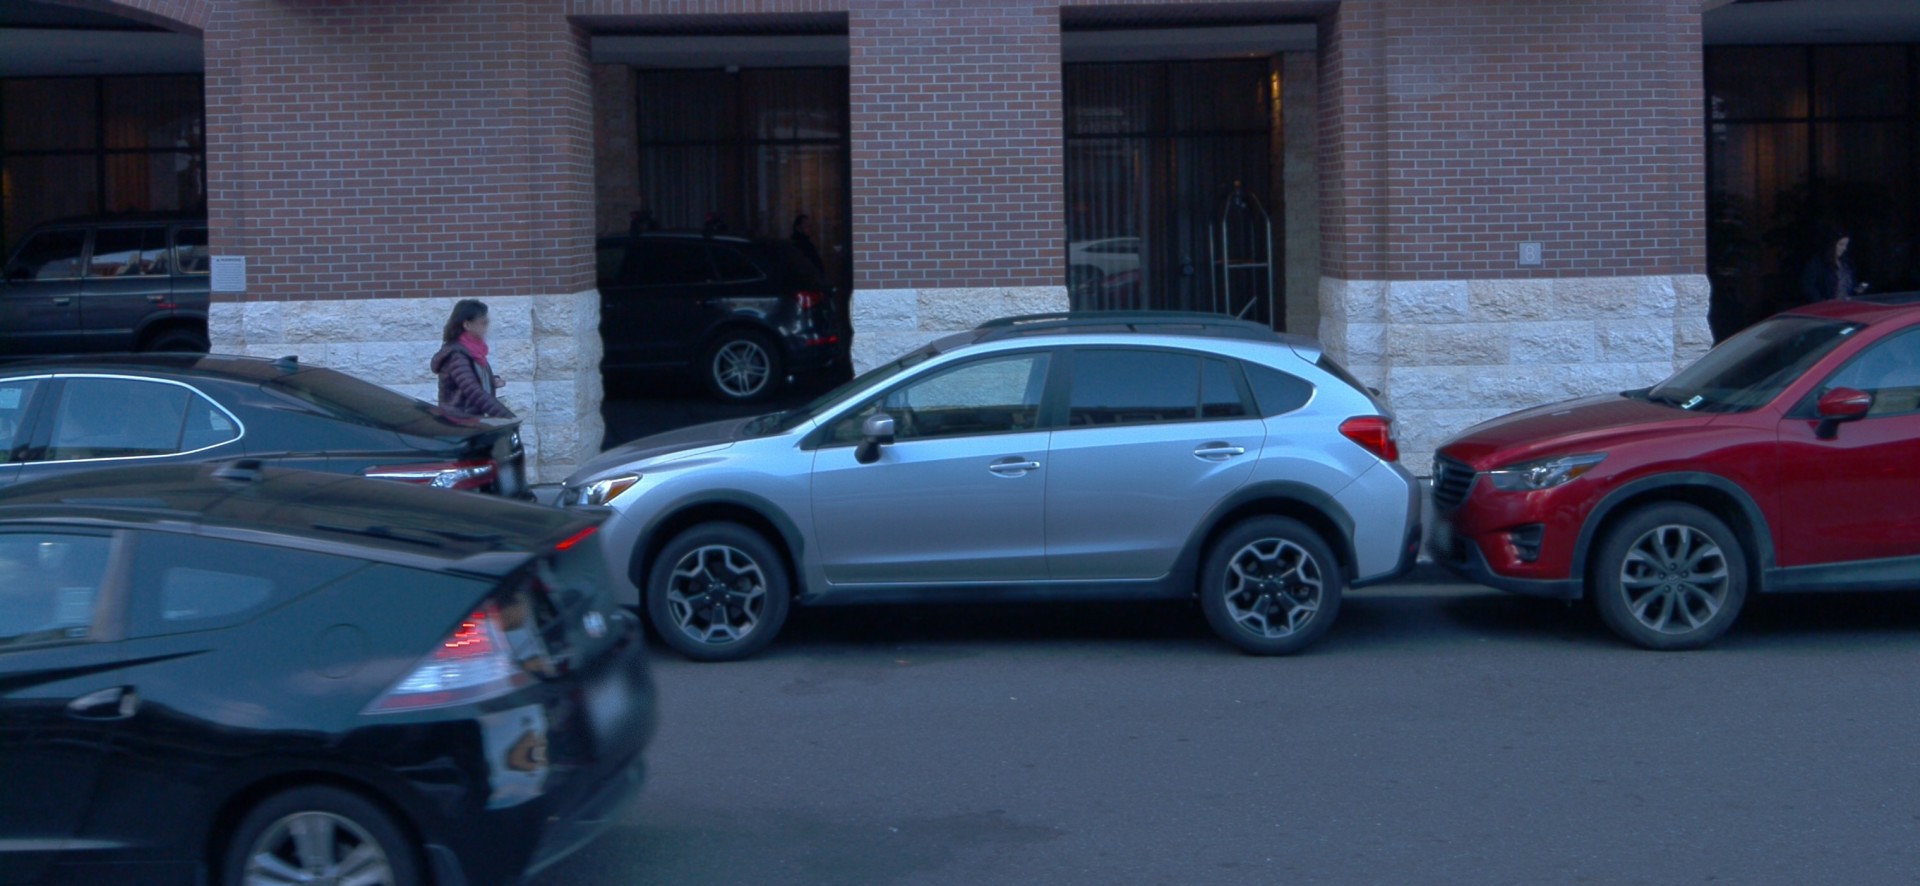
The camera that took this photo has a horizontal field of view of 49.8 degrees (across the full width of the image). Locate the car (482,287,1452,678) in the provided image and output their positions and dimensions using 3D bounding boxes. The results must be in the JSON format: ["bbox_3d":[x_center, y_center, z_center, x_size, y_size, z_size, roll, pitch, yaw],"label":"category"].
[{"bbox_3d":[0.037,0.108,10.556,4.456,1.687,2.062,0,4,1],"label":"car"}]

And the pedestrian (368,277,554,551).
[{"bbox_3d":[-3.050,-0.210,12.724,0.931,1.581,0.962,-1,3,-3],"label":"pedestrian"}]
